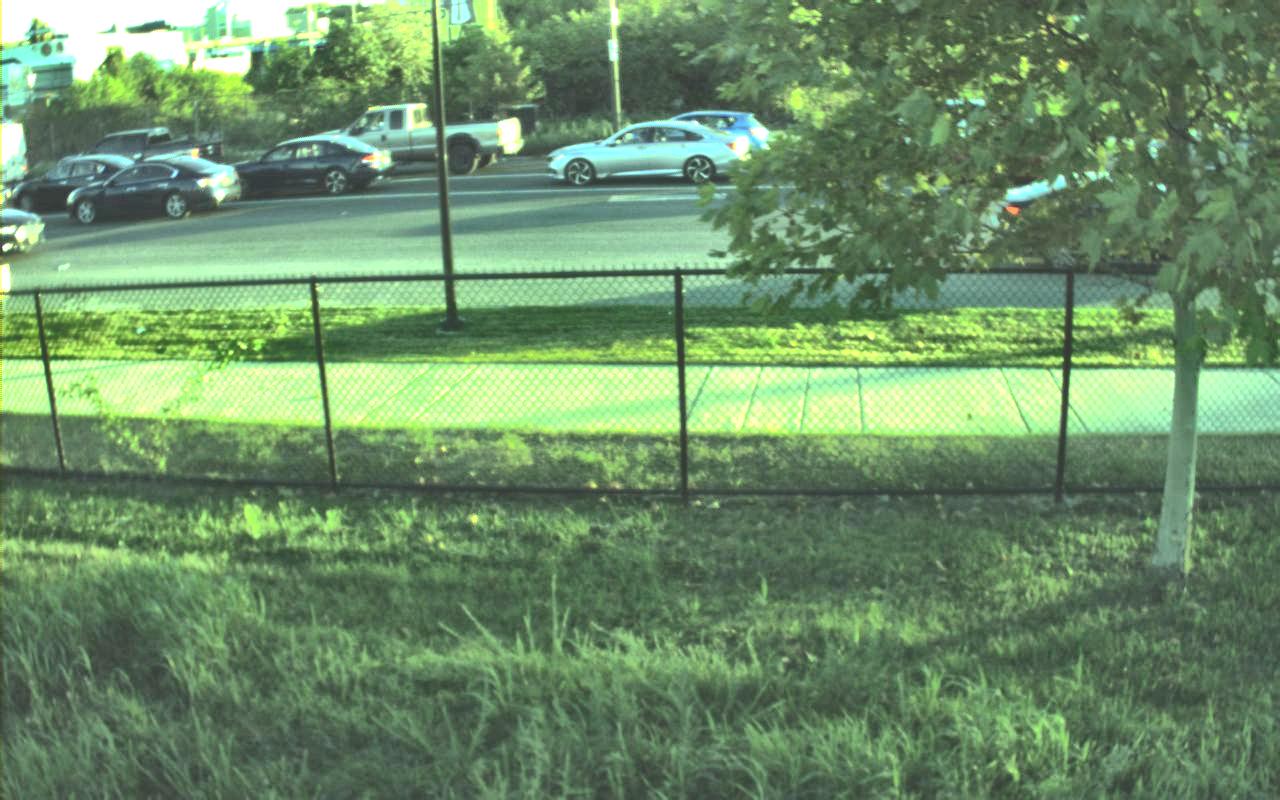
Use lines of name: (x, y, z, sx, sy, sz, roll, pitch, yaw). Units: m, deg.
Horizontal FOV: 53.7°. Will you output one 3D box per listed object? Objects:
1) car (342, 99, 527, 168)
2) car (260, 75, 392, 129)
car: (-5.729, -7.413, 34.331, 4.766, 1.643, 2.028, 1, 16, 8)
car: (-12.029, -11.363, 46.153, 4.712, 1.706, 2.024, 1, 16, 7)
